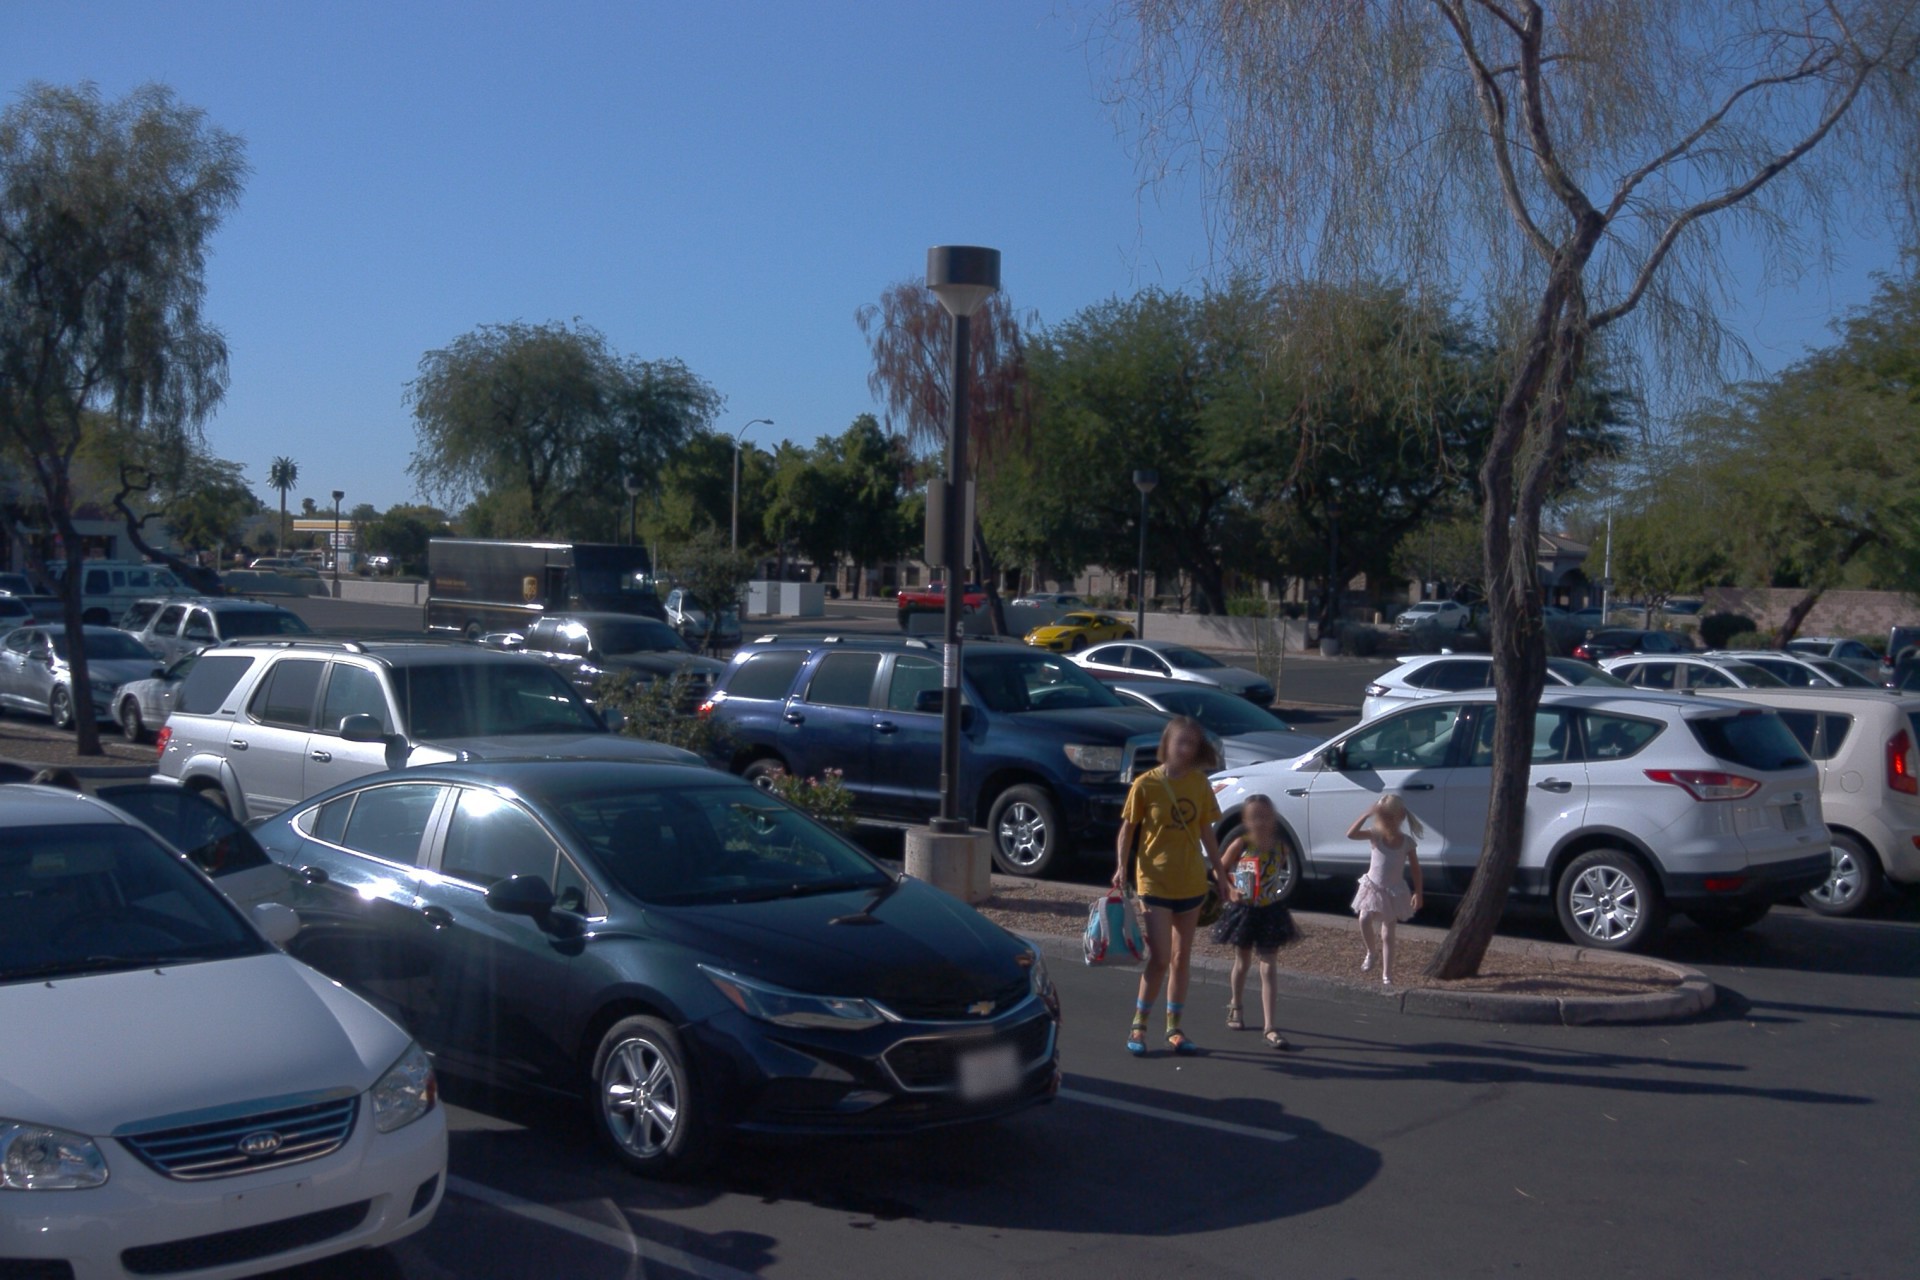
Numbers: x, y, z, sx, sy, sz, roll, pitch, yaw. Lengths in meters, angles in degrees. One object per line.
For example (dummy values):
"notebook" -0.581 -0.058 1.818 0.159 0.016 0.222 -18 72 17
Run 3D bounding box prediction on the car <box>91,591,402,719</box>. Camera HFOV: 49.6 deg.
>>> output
"car" -11.611 0.213 33.591 5.190 1.900 2.490 1 0 41

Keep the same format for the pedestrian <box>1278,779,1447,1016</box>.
"pedestrian" 2.268 1.415 11.640 0.826 1.200 0.820 1 0 17

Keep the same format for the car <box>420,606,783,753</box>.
"car" -5.536 0.534 31.512 5.728 2.030 2.534 1 0 44

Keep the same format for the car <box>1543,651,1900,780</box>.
"car" 11.189 1.053 30.668 4.434 1.720 2.160 1 0 44

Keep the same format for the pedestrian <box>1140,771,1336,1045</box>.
"pedestrian" 1.375 1.318 10.390 0.828 1.260 0.818 1 0 -3

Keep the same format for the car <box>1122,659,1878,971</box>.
"car" 3.623 1.048 14.496 4.652 1.760 2.103 1 0 43

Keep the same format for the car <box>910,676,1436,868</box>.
"car" 1.972 1.170 20.209 4.717 1.550 2.178 1 0 43

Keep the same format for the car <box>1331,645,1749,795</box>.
"car" 7.397 0.951 26.735 4.659 1.720 2.253 1 0 43

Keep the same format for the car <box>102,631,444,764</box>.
"car" -9.176 0.696 27.456 2.266 1.570 5.077 1 0 -44

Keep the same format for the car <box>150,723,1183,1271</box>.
"car" -1.511 1.285 9.261 4.657 1.630 2.034 1 0 42

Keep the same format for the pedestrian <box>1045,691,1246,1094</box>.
"pedestrian" 0.901 1.155 9.918 0.891 1.790 0.962 1 0 7

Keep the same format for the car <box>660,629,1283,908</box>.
"car" -0.020 0.966 18.220 5.089 2.070 2.506 1 0 43

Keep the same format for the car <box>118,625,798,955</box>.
"car" -3.792 0.894 15.040 5.157 1.950 2.392 1 0 44
